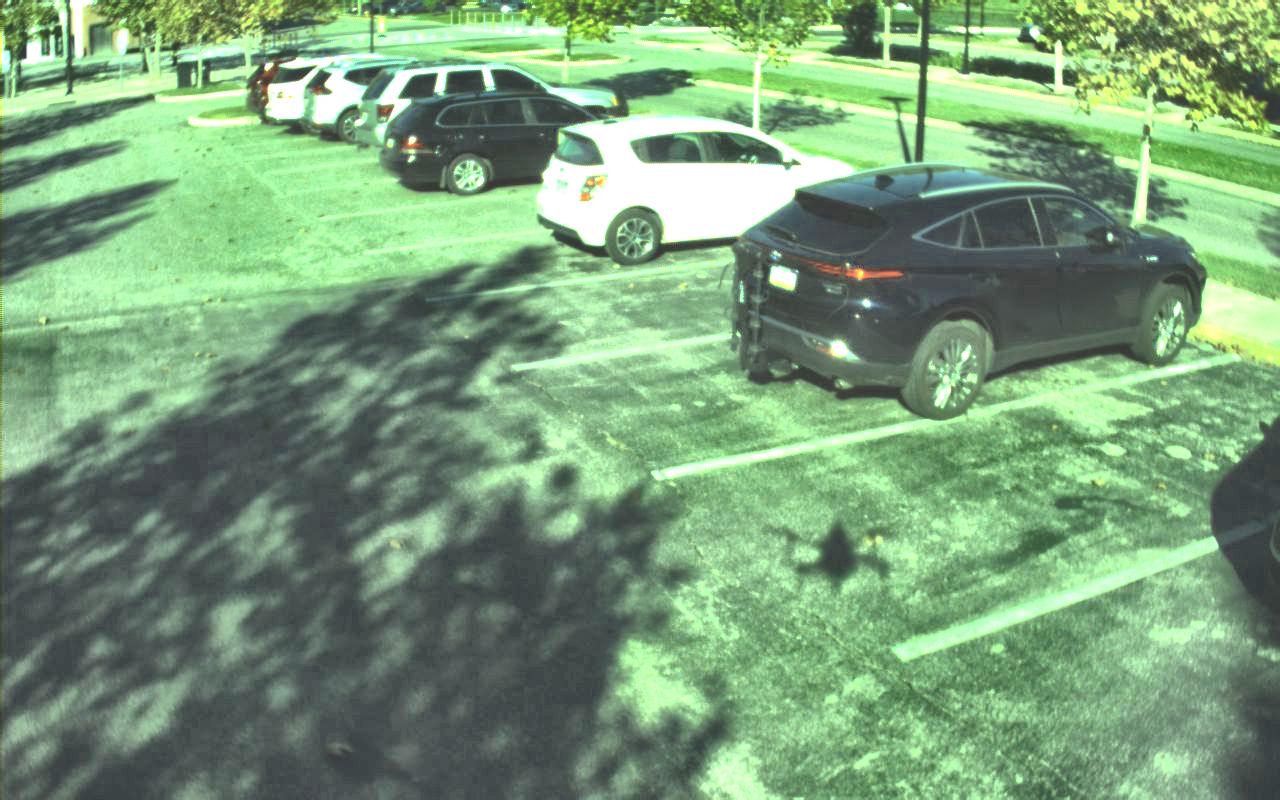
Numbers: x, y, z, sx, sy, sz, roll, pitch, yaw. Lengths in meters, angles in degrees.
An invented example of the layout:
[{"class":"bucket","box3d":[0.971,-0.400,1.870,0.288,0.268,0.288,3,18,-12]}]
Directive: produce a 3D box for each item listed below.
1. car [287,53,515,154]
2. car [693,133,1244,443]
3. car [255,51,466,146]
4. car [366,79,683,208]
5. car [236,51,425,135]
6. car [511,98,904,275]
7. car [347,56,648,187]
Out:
[{"class":"car","box3d":[-5.105,-6.303,25.749,4.511,1.754,1.973,-9,18,-25]},{"class":"car","box3d":[2.902,-1.166,9.949,4.625,1.741,1.989,-10,19,-29]},{"class":"car","box3d":[-6.481,-6.965,27.850,4.572,1.766,2.000,-9,18,-26]},{"class":"car","box3d":[-1.792,-4.032,19.098,4.516,1.564,1.938,-9,18,-24]},{"class":"car","box3d":[-7.843,-7.740,30.293,4.516,1.732,1.992,-10,18,-26]},{"class":"car","box3d":[0.842,-2.653,14.805,4.288,1.645,1.912,-9,18,-25]},{"class":"car","box3d":[-2.504,-4.920,21.443,4.853,1.873,2.068,-9,18,-24]}]
